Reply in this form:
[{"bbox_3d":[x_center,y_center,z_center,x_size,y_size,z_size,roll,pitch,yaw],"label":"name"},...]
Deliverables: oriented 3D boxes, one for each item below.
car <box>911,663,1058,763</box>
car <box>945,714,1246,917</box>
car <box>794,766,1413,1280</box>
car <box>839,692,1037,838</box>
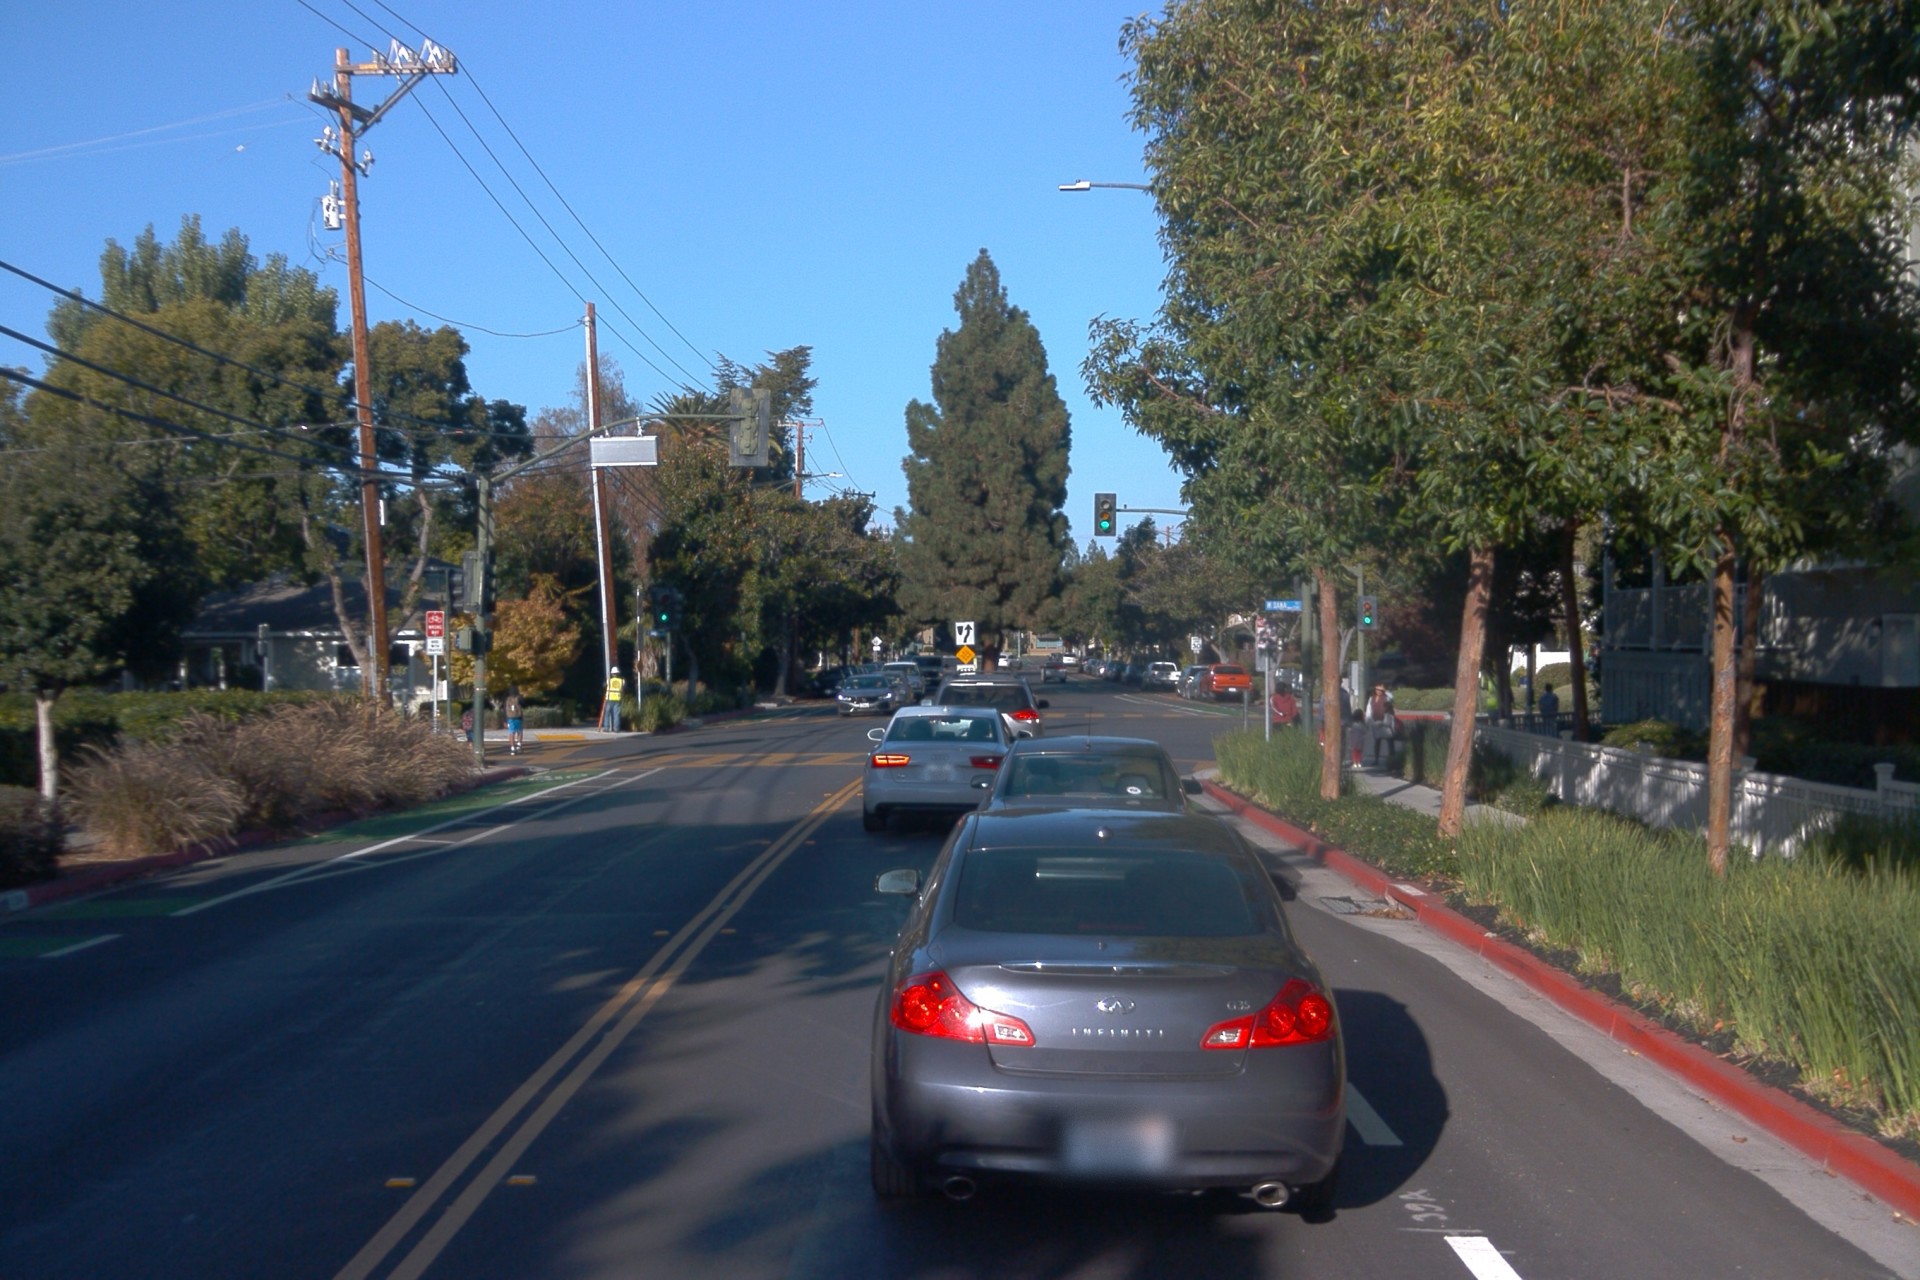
[{"bbox_3d":[0.418,1.180,35.399,2.317,1.510,4.744,1,0,1],"label":"car"},{"bbox_3d":[0.978,1.269,16.175,2.028,1.210,4.035,1,0,2],"label":"car"},{"bbox_3d":[0.569,1.433,9.124,2.033,1.460,4.435,1,0,3],"label":"car"},{"bbox_3d":[-0.166,1.446,25.367,2.122,1.500,4.397,1,0,3],"label":"car"}]
